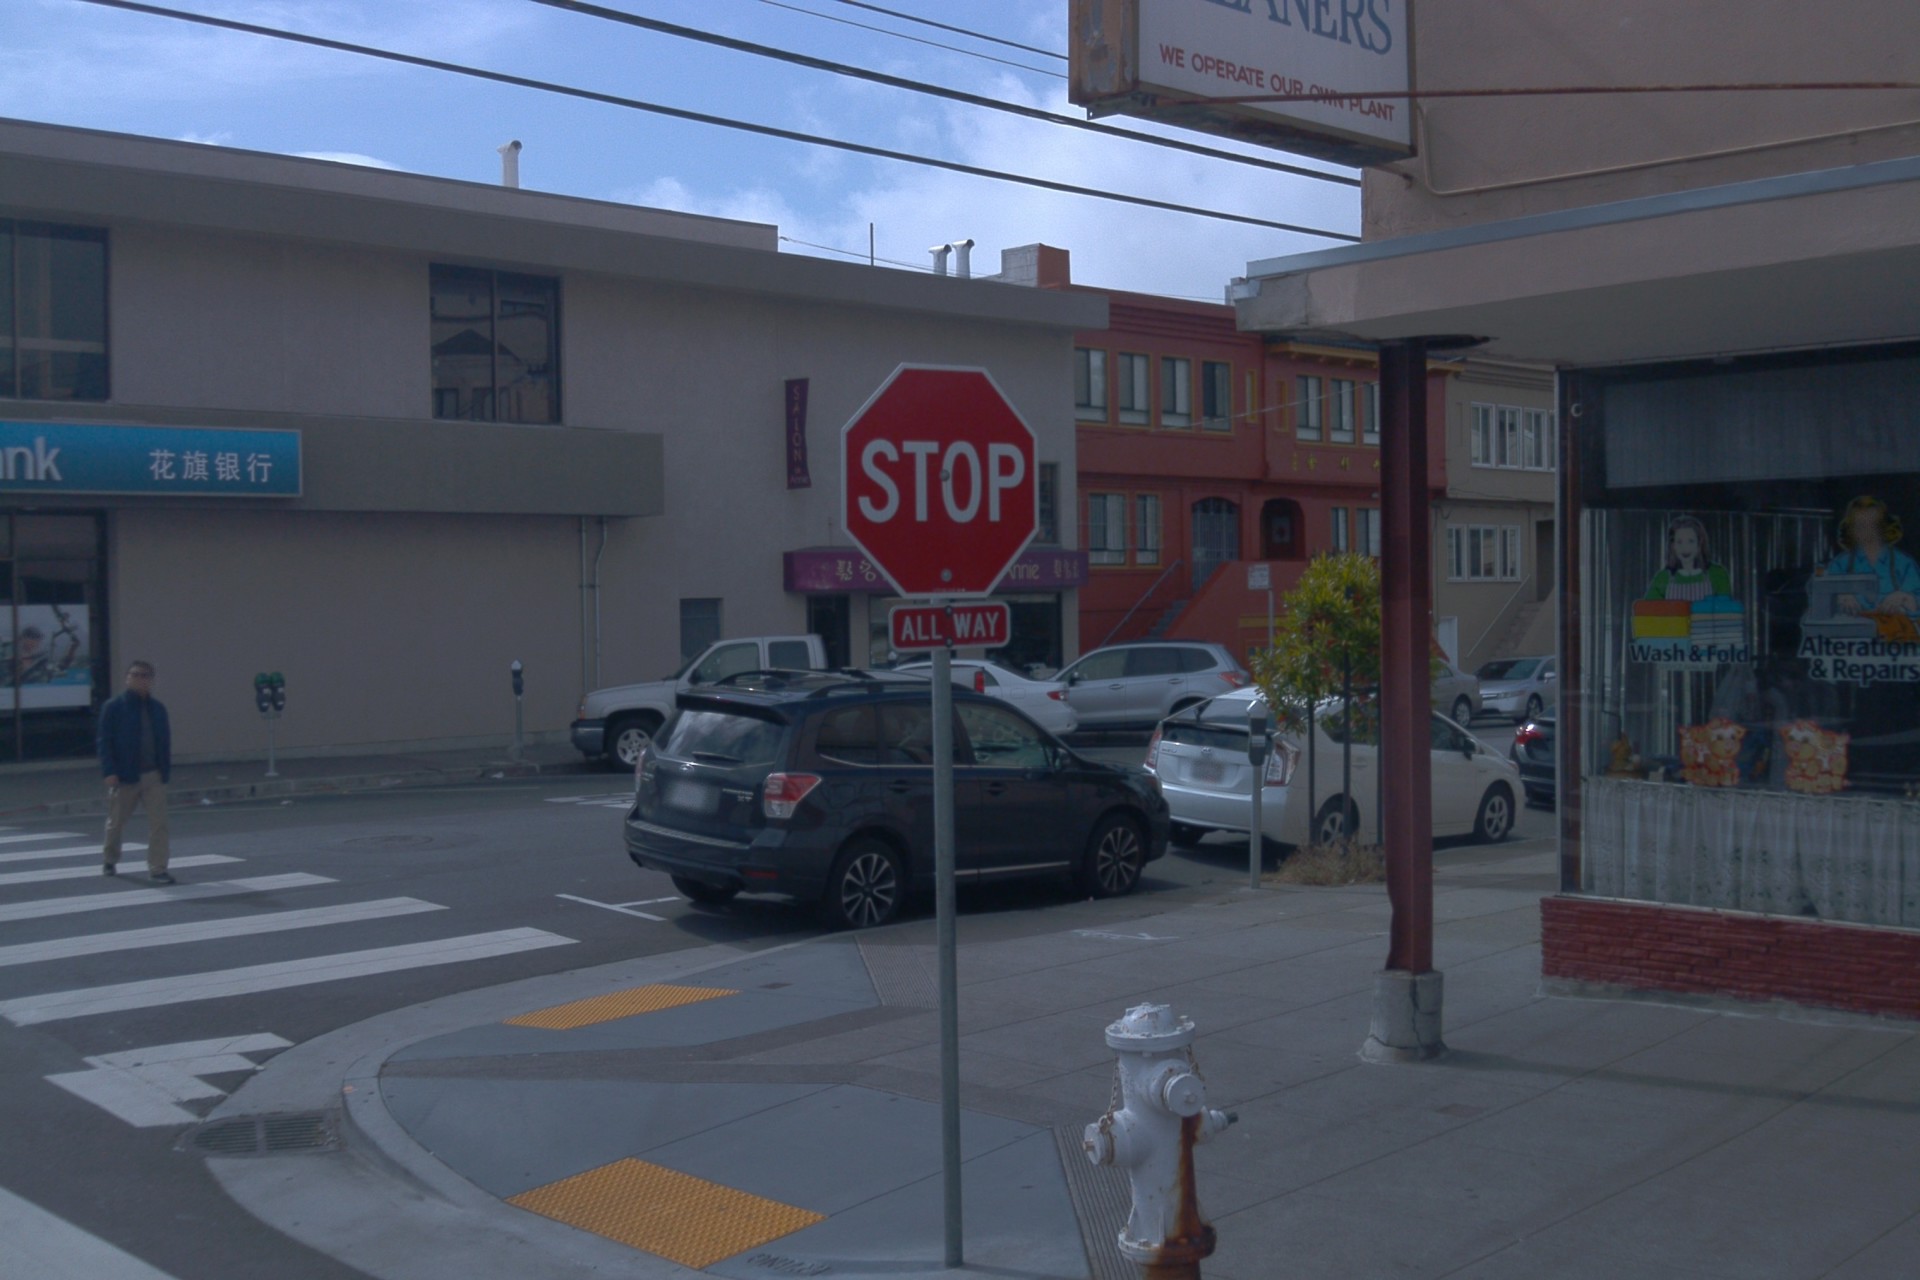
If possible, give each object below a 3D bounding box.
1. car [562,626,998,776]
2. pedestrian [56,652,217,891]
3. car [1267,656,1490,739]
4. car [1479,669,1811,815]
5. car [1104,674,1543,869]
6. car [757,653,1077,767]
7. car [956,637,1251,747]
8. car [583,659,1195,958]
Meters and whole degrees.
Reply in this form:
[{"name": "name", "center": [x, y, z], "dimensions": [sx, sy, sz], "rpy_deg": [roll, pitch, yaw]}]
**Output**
[{"name": "car", "center": [-2.458, 0.834, 28.894], "dimensions": [5.805, 1.970, 2.405], "rpy_deg": [0, -1, -2]}, {"name": "pedestrian", "center": [-6.236, 0.960, 15.668], "dimensions": [0.843, 1.734, 0.955], "rpy_deg": [1, -1, -42]}, {"name": "car", "center": [7.770, 1.024, 38.148], "dimensions": [2.005, 1.442, 4.526], "rpy_deg": [0, -1, 42]}, {"name": "car", "center": [7.936, 1.097, 23.786], "dimensions": [2.020, 1.497, 4.203], "rpy_deg": [0, -1, 44]}, {"name": "car", "center": [3.463, 1.117, 19.220], "dimensions": [2.020, 1.567, 4.203], "rpy_deg": [0, -1, 44]}, {"name": "car", "center": [-0.590, 1.035, 31.415], "dimensions": [4.698, 1.630, 2.090], "rpy_deg": [0, -1, 4]}, {"name": "car", "center": [2.403, 0.836, 34.213], "dimensions": [4.703, 1.730, 2.088], "rpy_deg": [0, -1, 7]}, {"name": "car", "center": [-0.393, 1.094, 15.374], "dimensions": [2.005, 1.877, 4.386], "rpy_deg": [0, -1, 44]}]
